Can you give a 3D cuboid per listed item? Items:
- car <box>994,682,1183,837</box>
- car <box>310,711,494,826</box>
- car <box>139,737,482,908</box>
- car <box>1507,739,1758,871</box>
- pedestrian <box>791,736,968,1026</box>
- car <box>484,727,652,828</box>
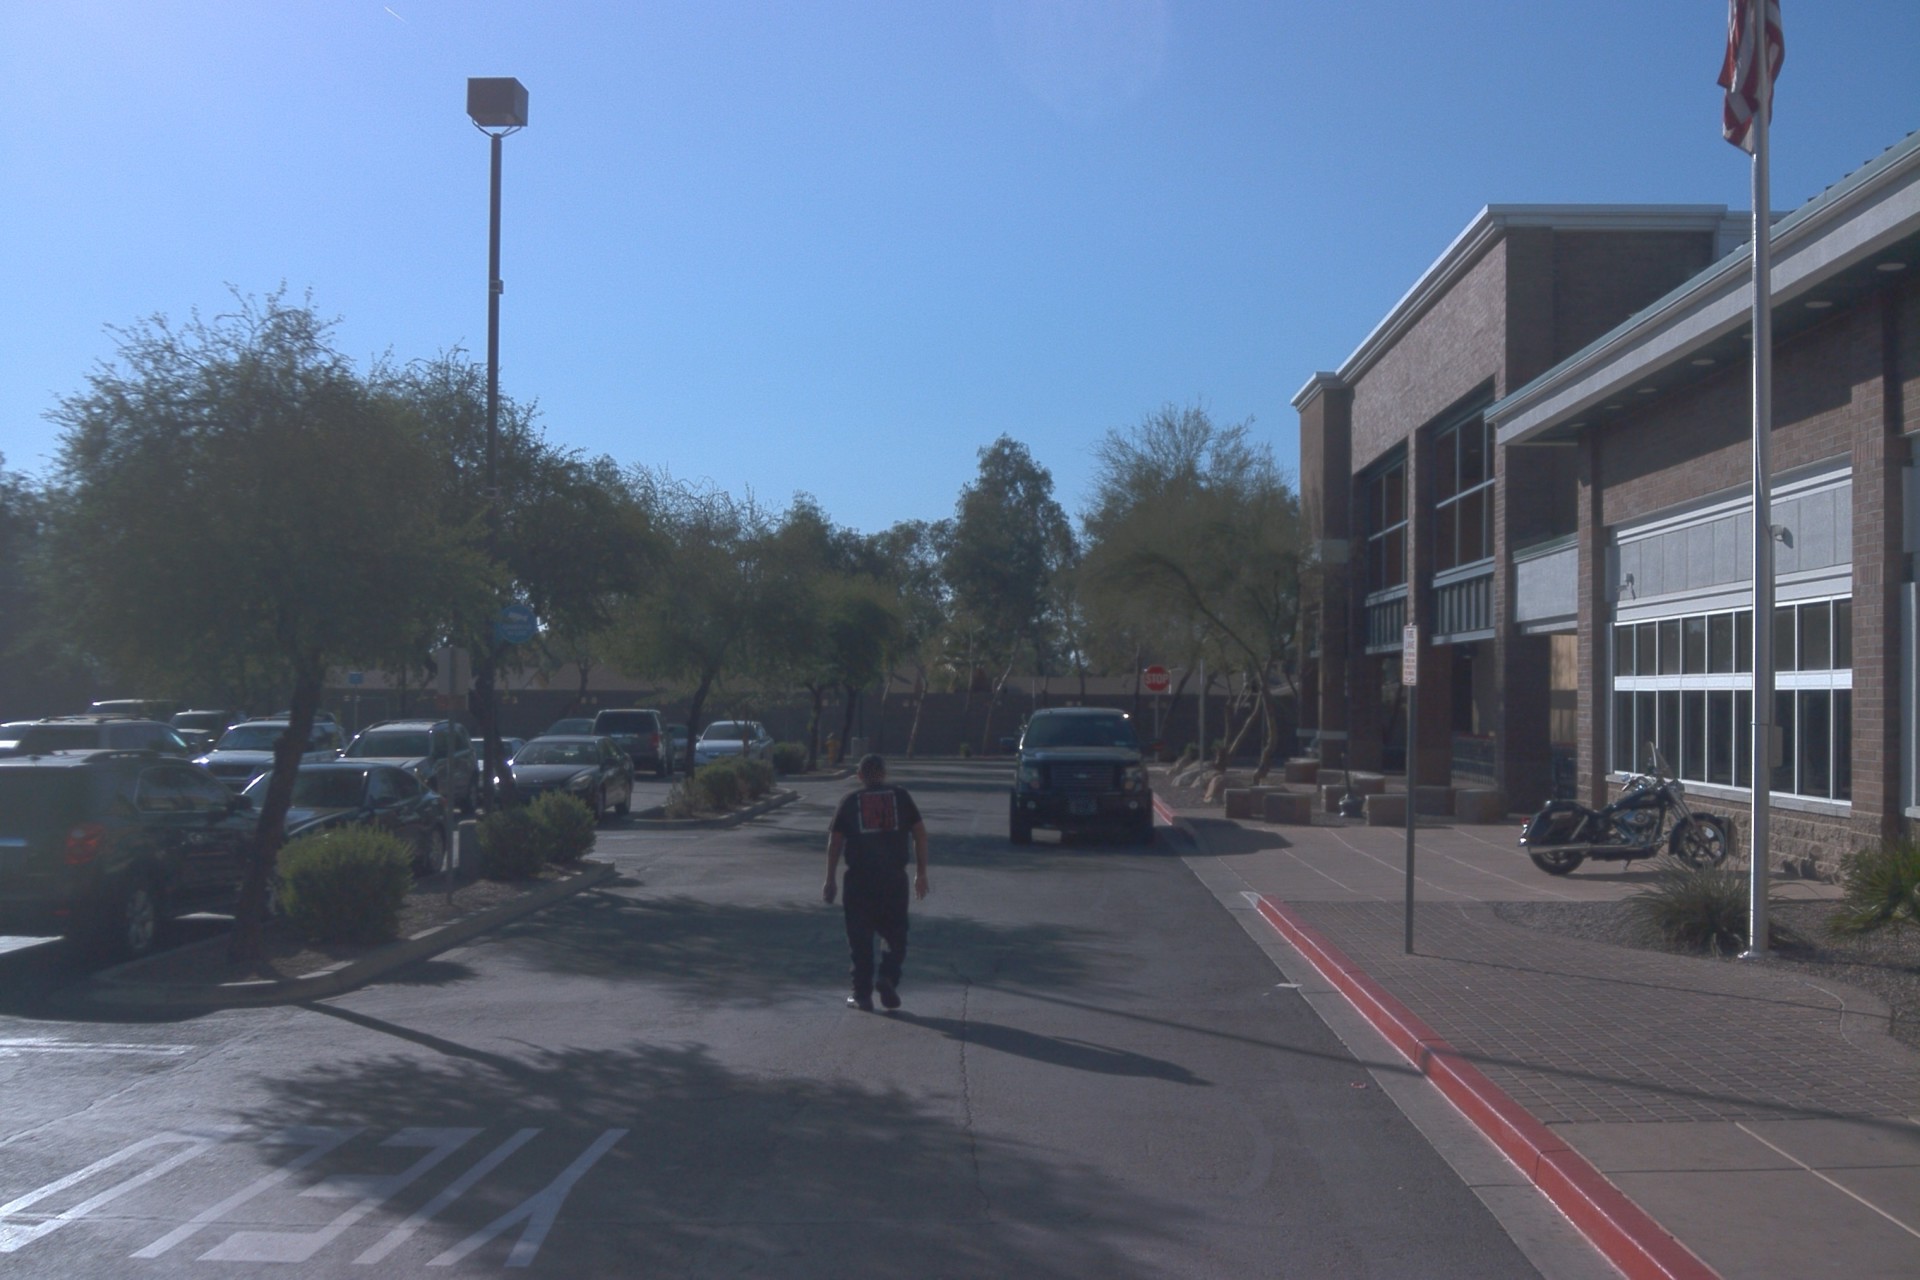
[{"bbox_3d":[1.925,1.770,32.331,2.655,2.190,5.664,-1,-1,2],"label":"car"},{"bbox_3d":[-9.737,2.202,36.554,1.886,1.820,4.571,-1,-1,2],"label":"car"},{"bbox_3d":[-7.298,2.010,23.965,2.211,1.640,5.024,-1,-1,3],"label":"car"},{"bbox_3d":[7.572,1.857,23.484,2.509,1.430,1.043,-1,-1,5],"label":"car"},{"bbox_3d":[-0.577,1.615,14.300,1.074,1.870,1.185,0,-1,-9],"label":"pedestrian"},{"bbox_3d":[-6.807,2.363,36.517,1.931,1.560,4.779,-1,-1,2],"label":"car"}]
